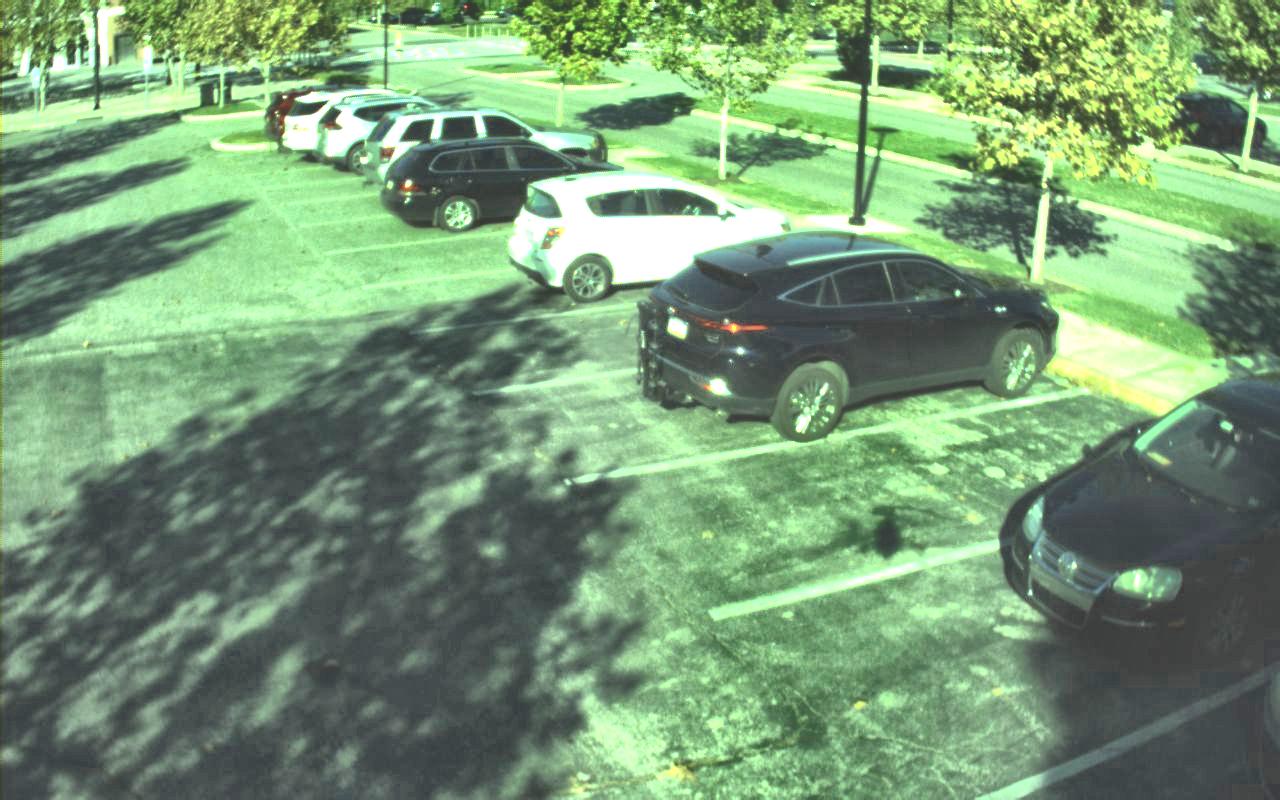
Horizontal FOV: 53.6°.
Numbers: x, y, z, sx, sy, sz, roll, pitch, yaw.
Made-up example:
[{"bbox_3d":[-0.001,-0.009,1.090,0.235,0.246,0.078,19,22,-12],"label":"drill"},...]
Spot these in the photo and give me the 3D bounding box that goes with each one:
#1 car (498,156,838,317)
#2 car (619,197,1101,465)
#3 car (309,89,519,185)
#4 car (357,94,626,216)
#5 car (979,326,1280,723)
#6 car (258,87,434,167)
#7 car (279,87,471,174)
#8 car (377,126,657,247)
[{"bbox_3d":[0.401,-2.352,17.303,4.284,1.614,1.911,-8,18,-23],"label":"car"},{"bbox_3d":[2.316,-0.888,12.423,4.620,1.756,1.992,-10,18,-27],"label":"car"},{"bbox_3d":[-5.277,-6.147,28.477,4.549,1.764,1.984,-9,18,-24],"label":"car"},{"bbox_3d":[-2.907,-4.827,24.034,4.843,1.882,2.067,-8,18,-22],"label":"car"},{"bbox_3d":[4.771,0.669,8.266,4.432,1.552,1.947,-8,18,-22],"label":"car"},{"bbox_3d":[-8.017,-7.416,32.889,4.485,1.686,1.984,-10,18,-27],"label":"car"},{"bbox_3d":[-6.667,-6.761,30.450,4.541,1.701,1.985,-8,18,-22],"label":"car"},{"bbox_3d":[-2.159,-3.794,21.712,4.493,1.567,1.938,-9,18,-24],"label":"car"}]
